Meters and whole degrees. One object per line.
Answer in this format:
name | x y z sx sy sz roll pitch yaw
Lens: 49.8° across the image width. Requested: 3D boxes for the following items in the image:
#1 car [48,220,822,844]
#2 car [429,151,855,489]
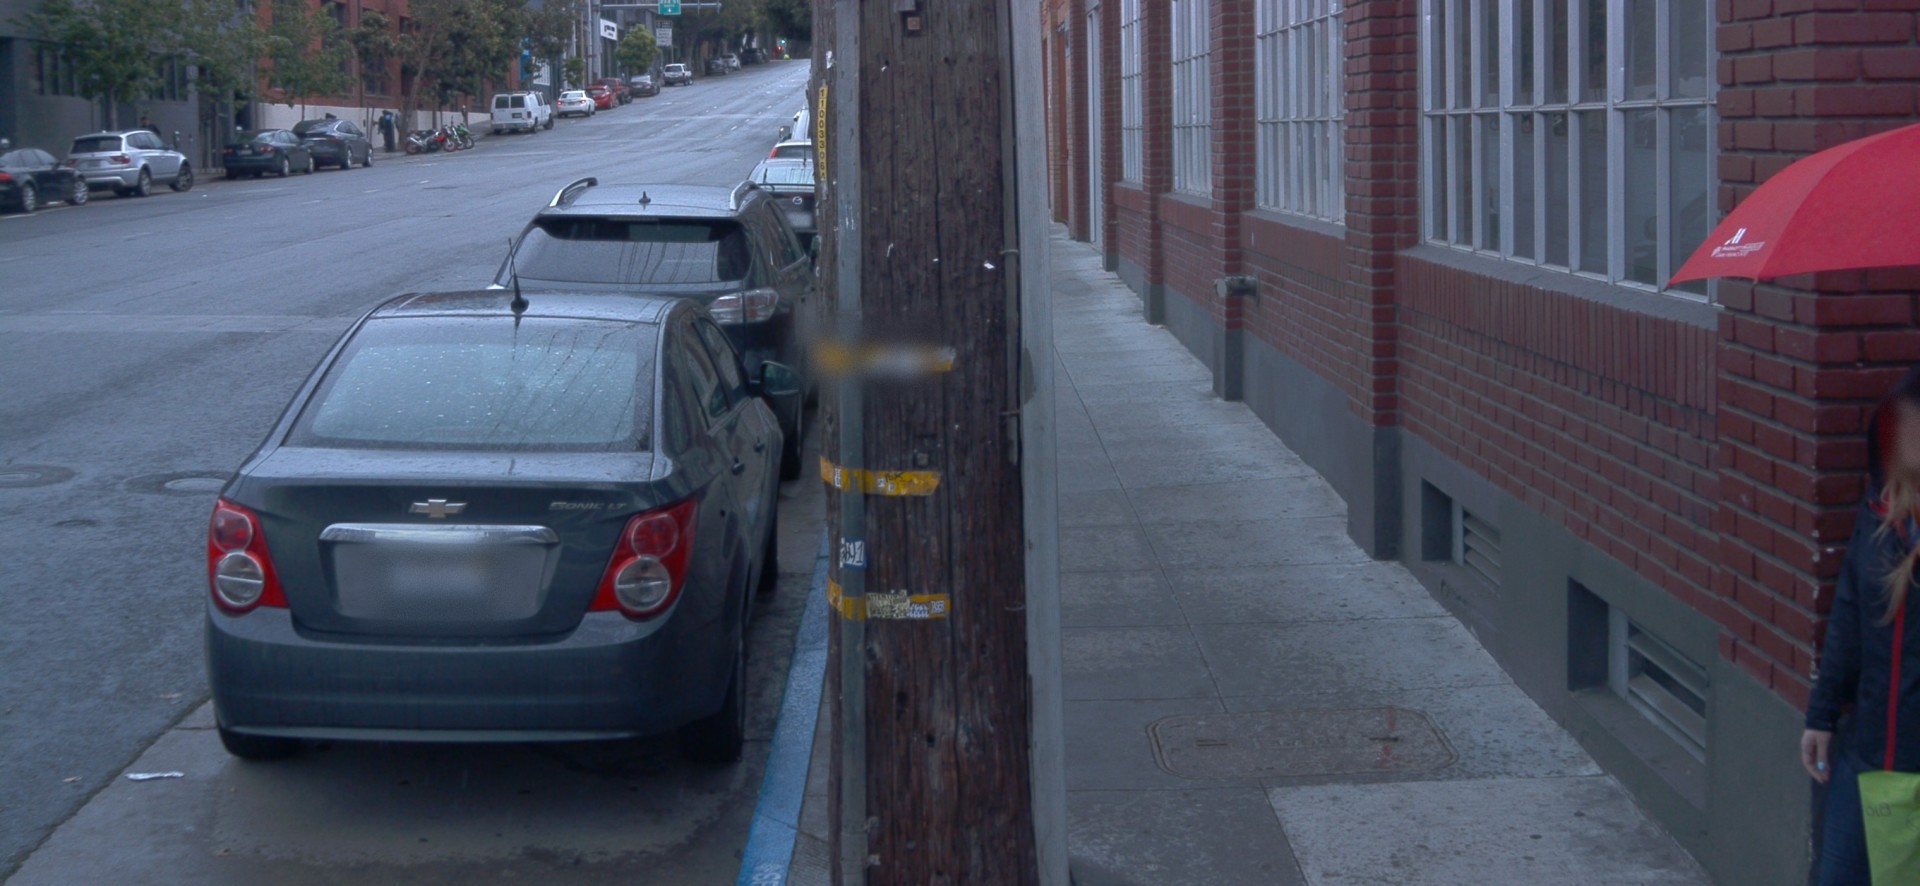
car | -1.634 0.013 8.093 2.038 1.752 4.423 0 5 -2
car | -1.830 -0.911 13.436 2.171 1.812 4.553 0 5 -2
